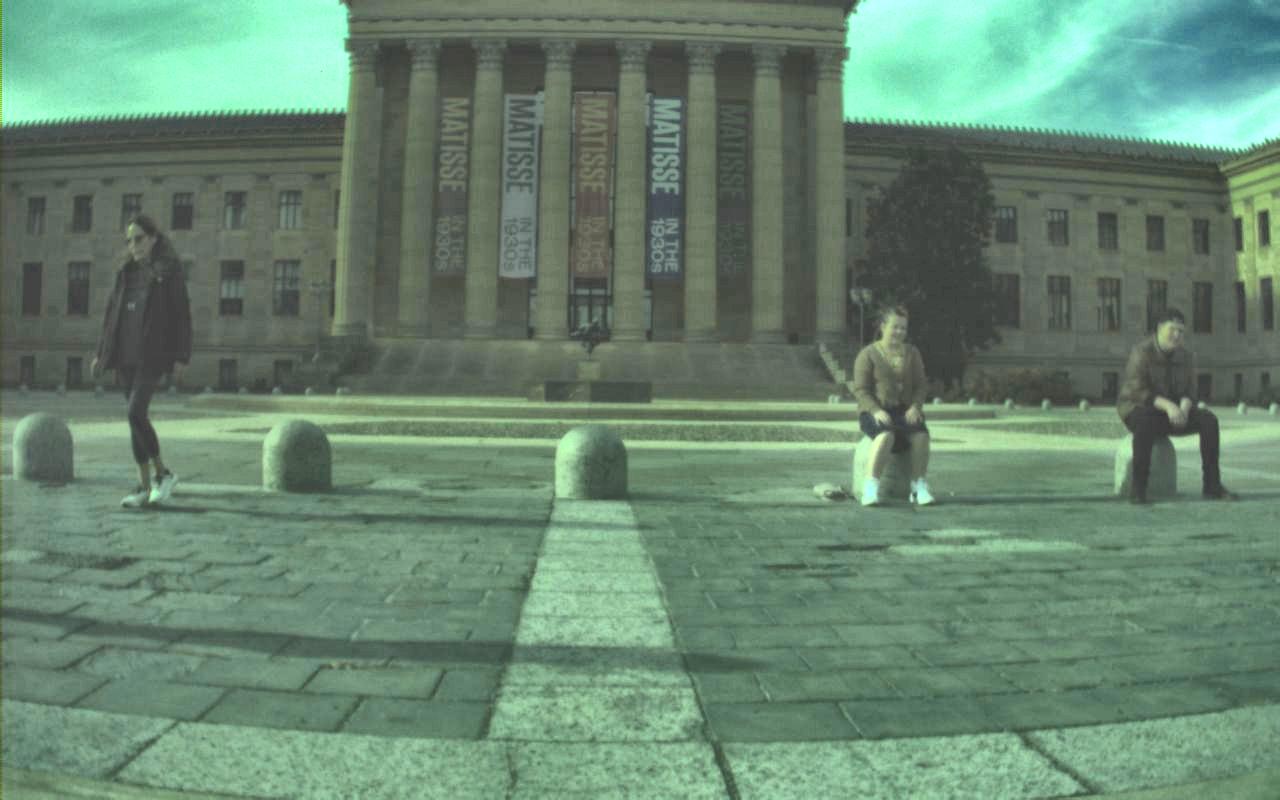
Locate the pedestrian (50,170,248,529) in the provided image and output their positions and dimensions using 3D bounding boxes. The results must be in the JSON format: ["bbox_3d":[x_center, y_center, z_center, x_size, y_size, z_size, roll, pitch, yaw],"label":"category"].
[{"bbox_3d":[-2.684,-0.256,6.357,0.776,1.798,0.829,1,0,21],"label":"pedestrian"}]

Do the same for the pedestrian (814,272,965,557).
[{"bbox_3d":[1.584,0.085,7.945,0.734,1.718,0.753,0,0,-10],"label":"pedestrian"}]

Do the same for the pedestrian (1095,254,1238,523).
[{"bbox_3d":[3.518,-0.065,7.830,0.747,1.700,0.776,0,0,-1],"label":"pedestrian"}]
